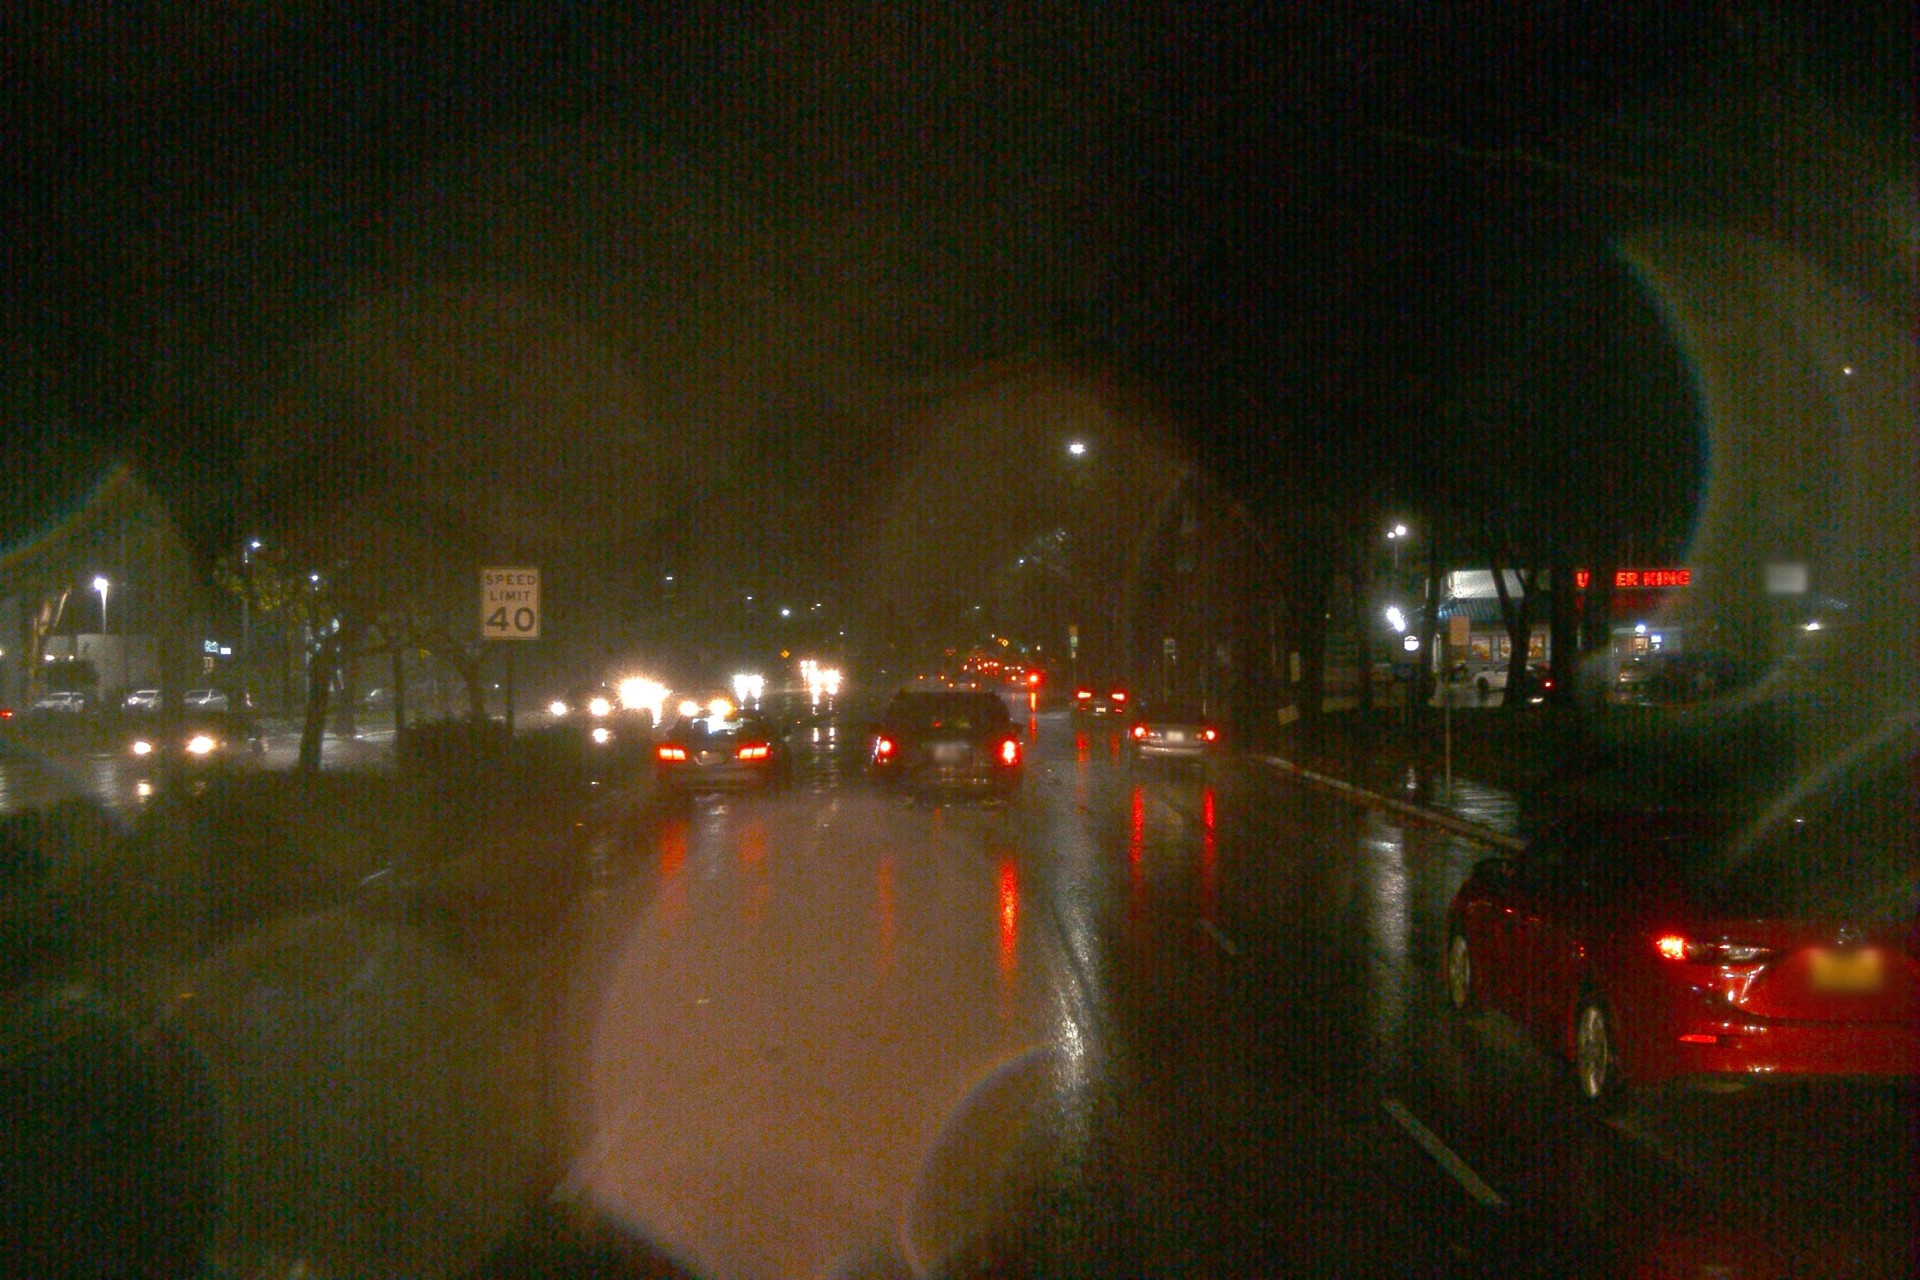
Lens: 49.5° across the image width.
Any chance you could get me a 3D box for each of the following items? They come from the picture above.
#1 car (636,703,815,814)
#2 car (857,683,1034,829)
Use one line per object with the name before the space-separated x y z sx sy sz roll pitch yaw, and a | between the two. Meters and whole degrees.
car | -3.619 1.816 33.094 2.307 1.544 4.878 0 -1 0
car | -0.183 1.511 28.513 2.222 1.800 4.381 0 -1 0
